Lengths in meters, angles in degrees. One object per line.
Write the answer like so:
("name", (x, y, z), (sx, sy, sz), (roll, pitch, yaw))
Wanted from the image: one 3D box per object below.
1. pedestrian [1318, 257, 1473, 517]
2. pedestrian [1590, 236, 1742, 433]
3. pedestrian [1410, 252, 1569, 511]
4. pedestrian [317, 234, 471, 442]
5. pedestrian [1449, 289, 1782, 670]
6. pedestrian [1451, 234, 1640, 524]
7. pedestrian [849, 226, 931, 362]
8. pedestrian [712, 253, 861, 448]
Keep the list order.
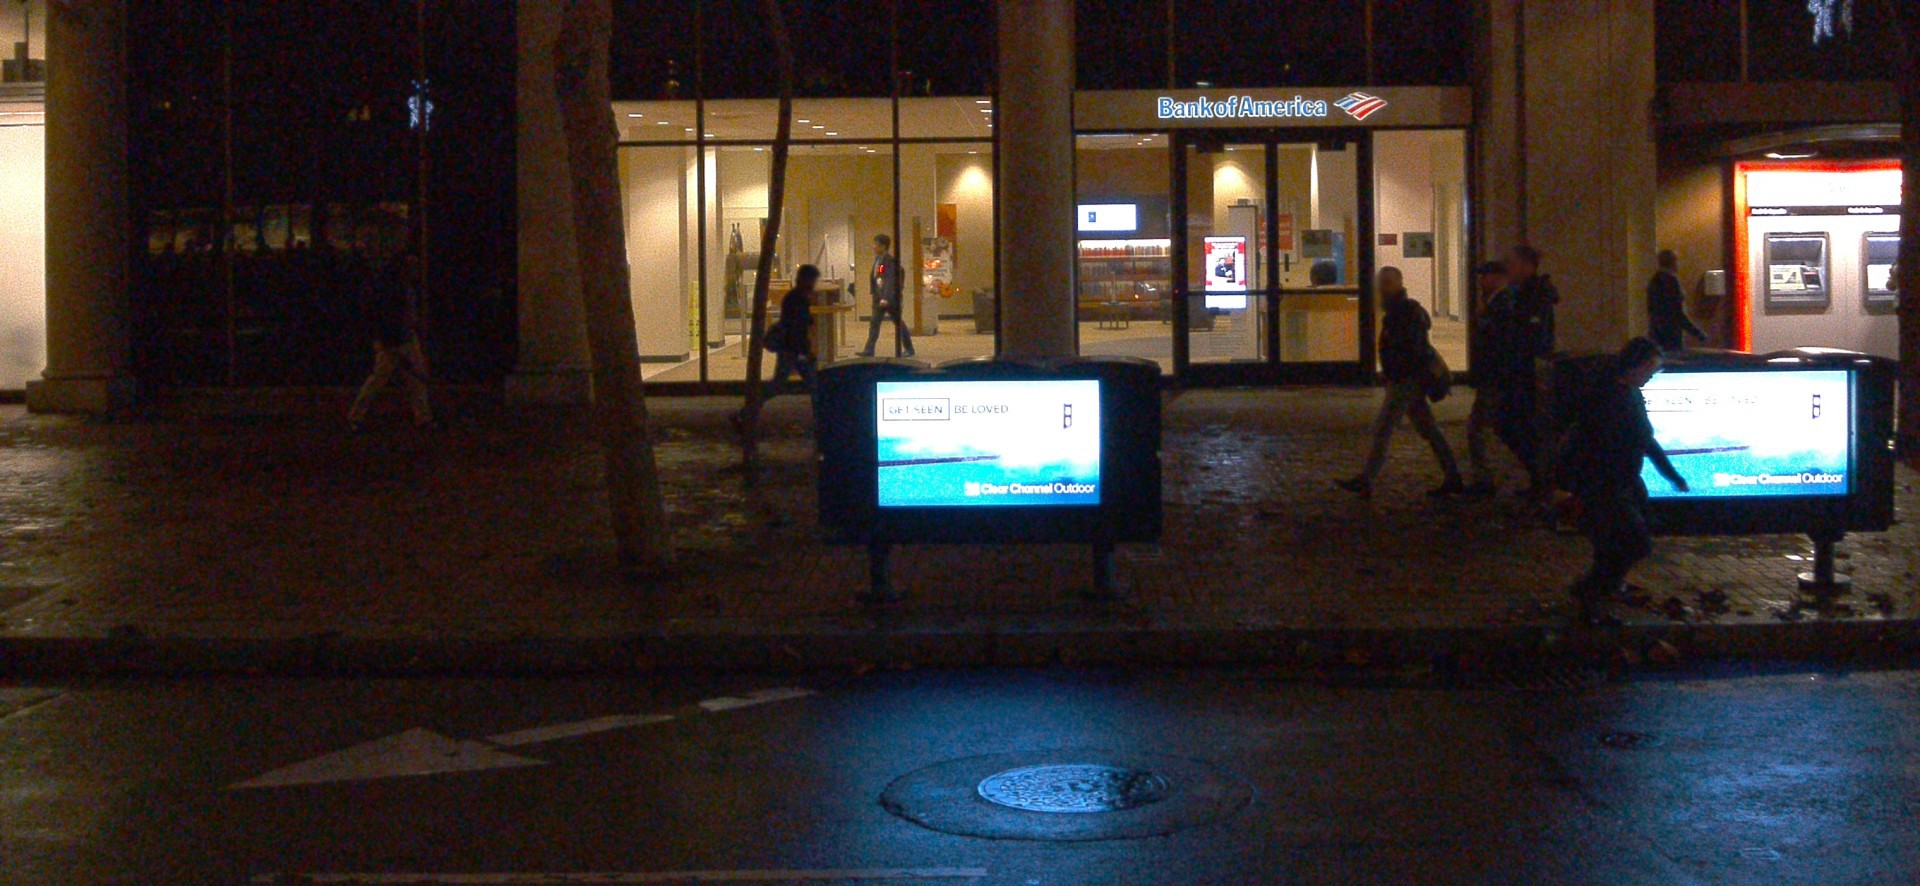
("pedestrian", (3.139, -0.427, 14.703), (1.037, 1.785, 0.703), (0, 2, 14))
("pedestrian", (6.304, -0.992, 18.323), (1.060, 1.685, 0.936), (-1, 3, 0))
("pedestrian", (3.805, -0.481, 14.735), (1.055, 1.735, 1.181), (0, 3, 13))
("pedestrian", (-5.334, -1.014, 19.346), (1.050, 1.885, 1.025), (-1, 3, 4))
("pedestrian", (3.380, 0.119, 10.623), (1.154, 1.745, 1.216), (-2, 4, -23))
("pedestrian", (3.995, -0.470, 14.001), (1.021, 1.885, 0.786), (-1, 2, -8))
("pedestrian", (-0.953, -2.045, 27.895), (0.839, 1.795, 0.691), (-3, 3, -44))
("pedestrian", (-1.590, -0.875, 18.886), (1.127, 1.715, 0.915), (0, 3, 10))
